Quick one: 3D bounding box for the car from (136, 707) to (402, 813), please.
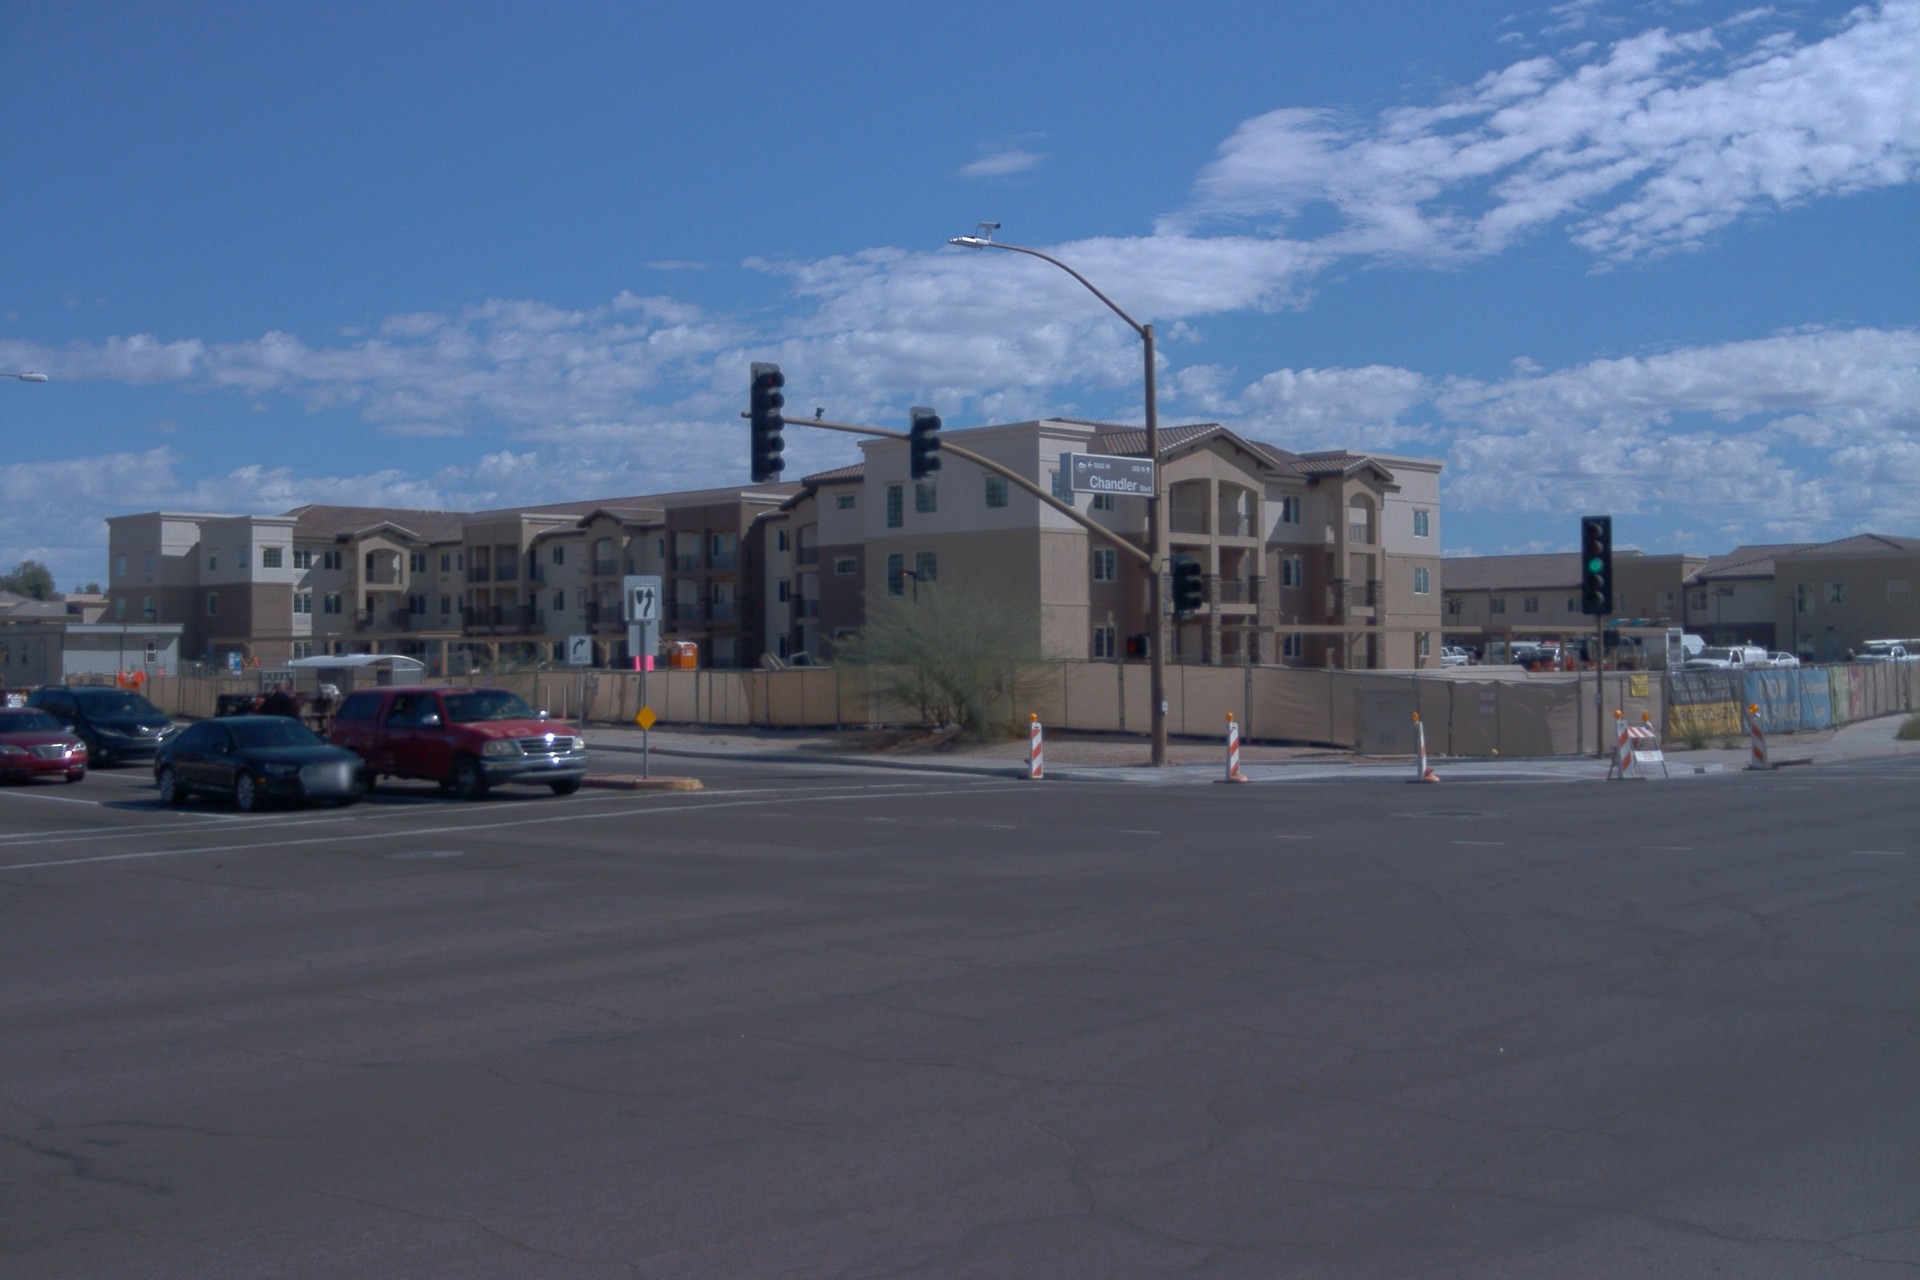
[{"bbox_3d":[-11.258,1.880,33.744,4.889,1.490,2.086,-1,-1,45],"label":"car"}]

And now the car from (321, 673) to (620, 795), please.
[{"bbox_3d":[-8.292,1.487,34.869,2.303,1.840,5.704,0,-1,-44],"label":"car"}]
